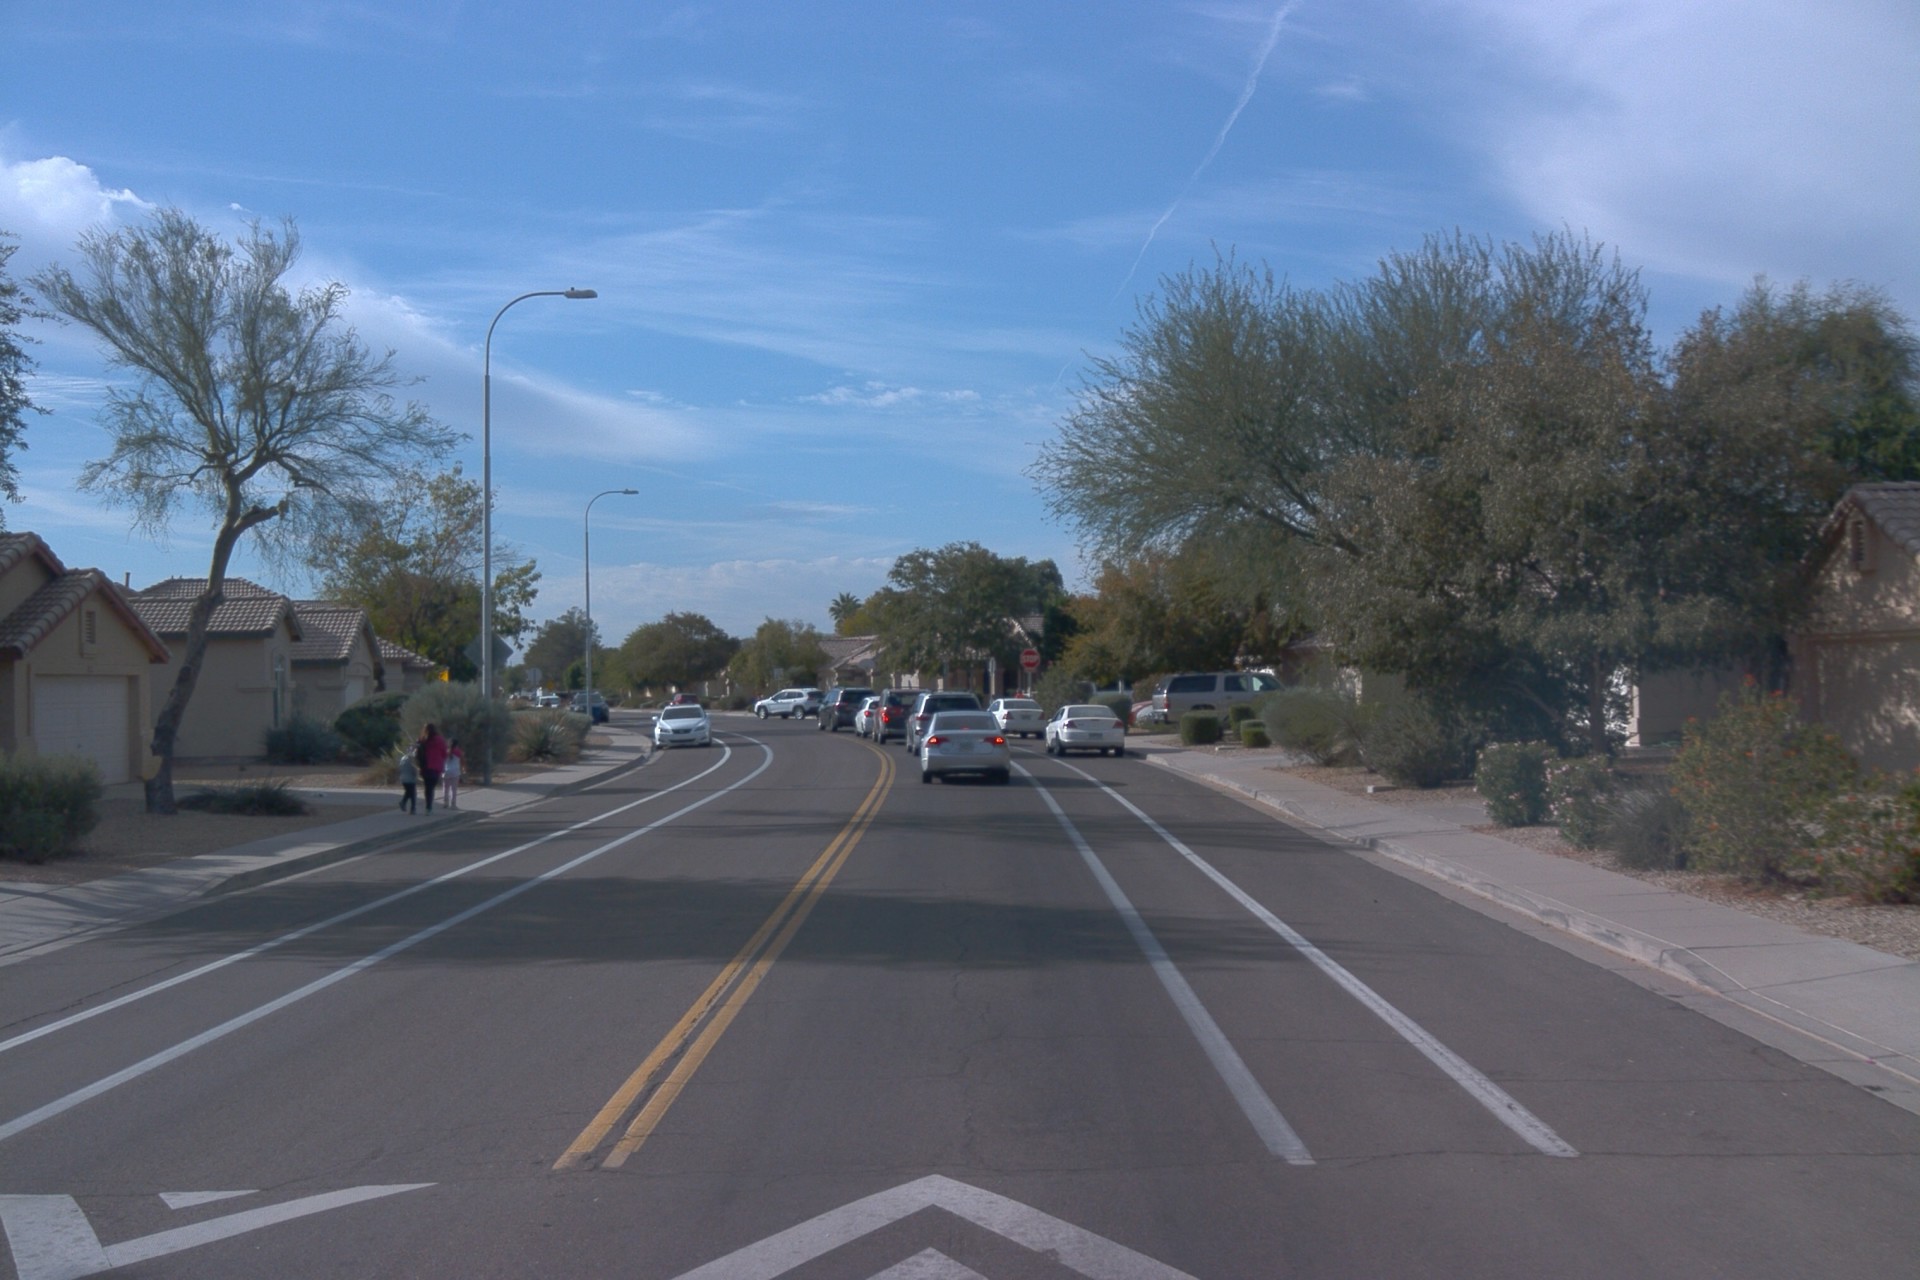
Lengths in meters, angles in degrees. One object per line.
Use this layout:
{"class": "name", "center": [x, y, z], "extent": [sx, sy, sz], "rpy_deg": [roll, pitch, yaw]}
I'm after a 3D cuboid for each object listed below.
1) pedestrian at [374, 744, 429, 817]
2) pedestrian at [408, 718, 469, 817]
{"class": "pedestrian", "center": [-9.133, 2.297, 34.034], "extent": [0.691, 1.150, 0.794], "rpy_deg": [0, -1, 0]}
{"class": "pedestrian", "center": [-8.535, 2.082, 34.049], "extent": [0.782, 1.580, 0.850], "rpy_deg": [0, -1, 0]}
